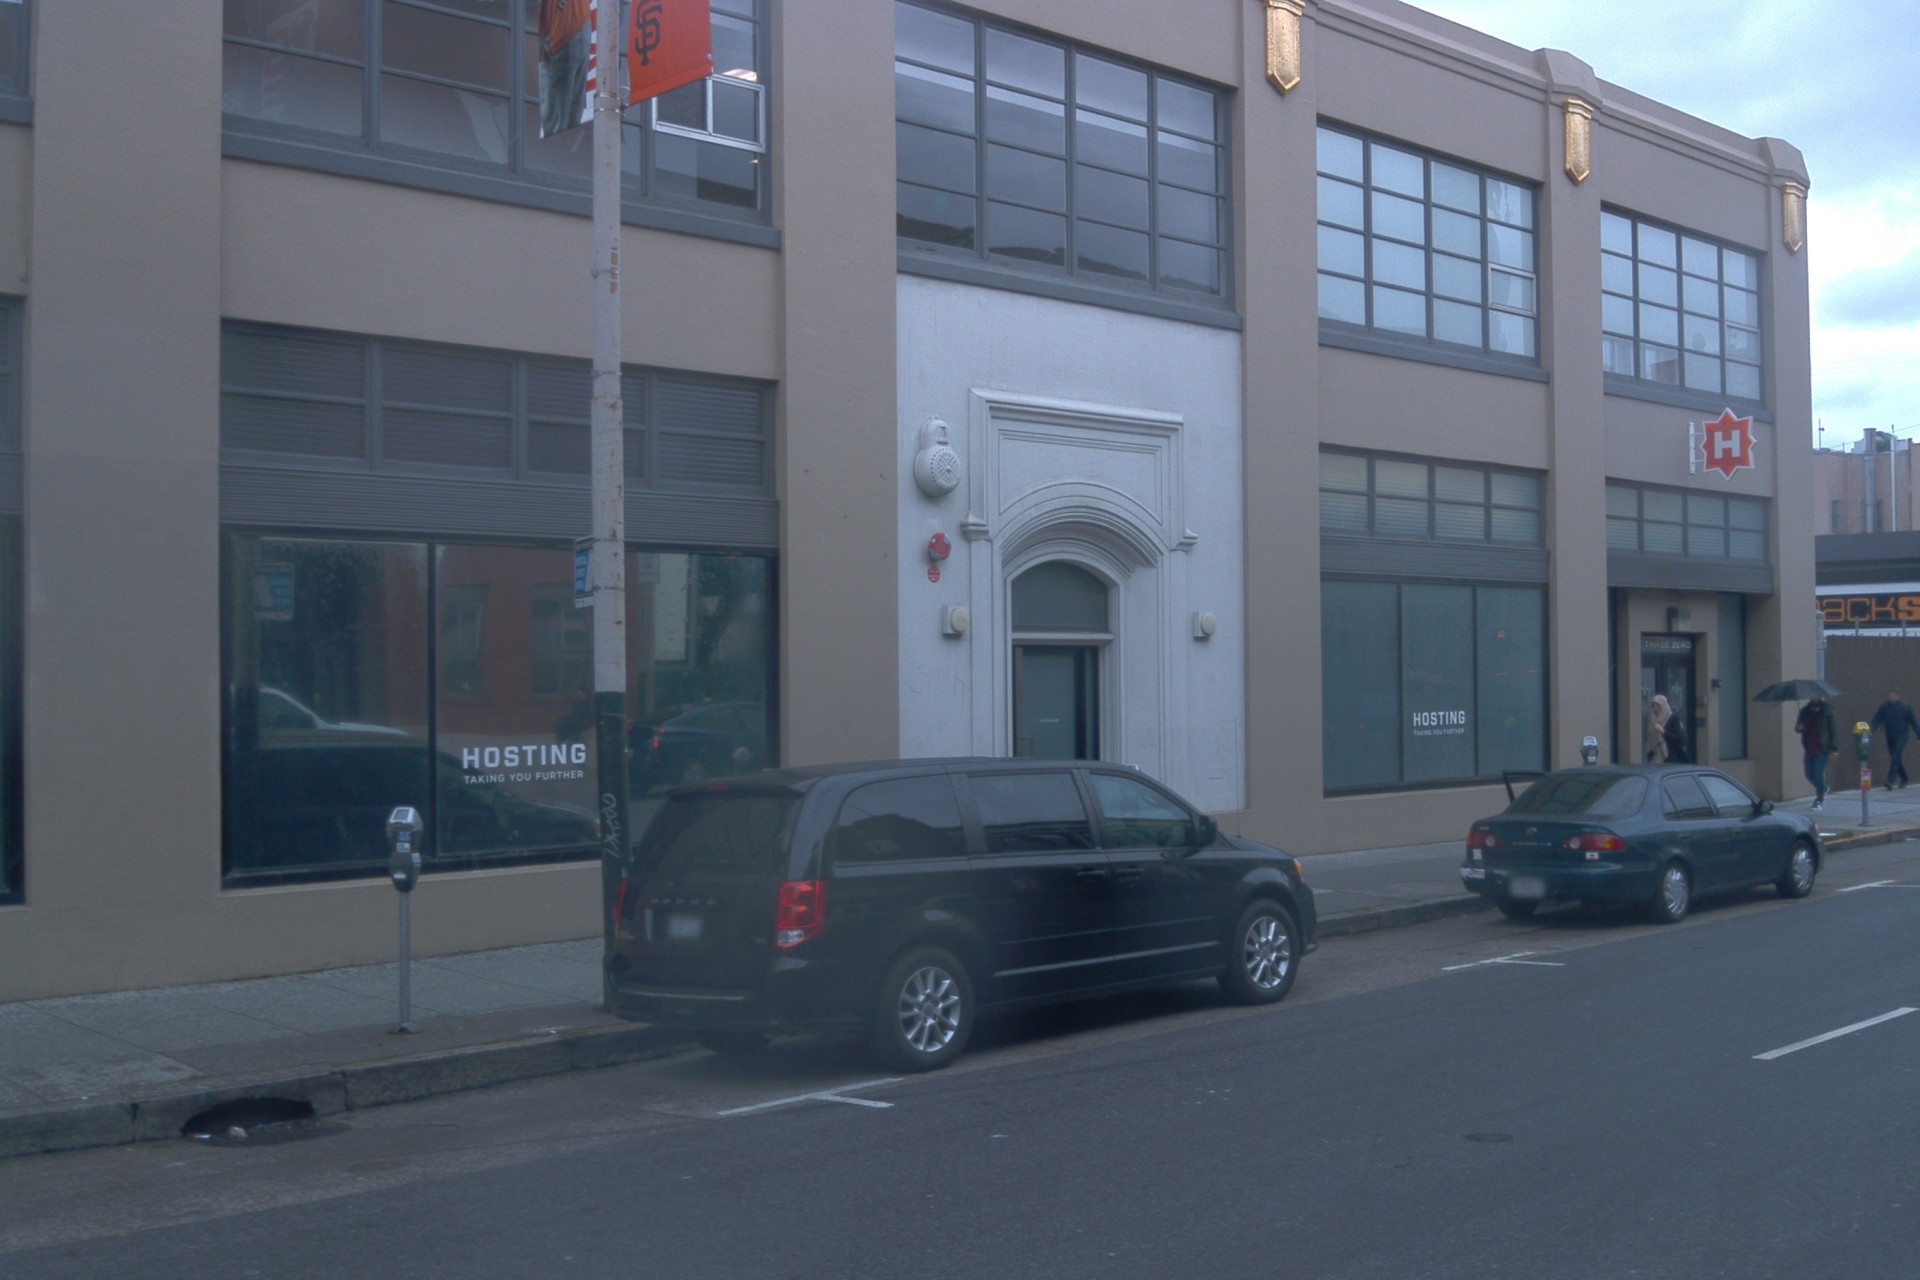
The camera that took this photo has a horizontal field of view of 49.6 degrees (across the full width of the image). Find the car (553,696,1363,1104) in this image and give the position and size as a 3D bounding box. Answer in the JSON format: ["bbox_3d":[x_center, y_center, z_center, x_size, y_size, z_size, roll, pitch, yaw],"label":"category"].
[{"bbox_3d":[0.191,1.400,13.180,5.129,1.960,2.084,0,0,-44],"label":"car"}]

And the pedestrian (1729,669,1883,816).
[{"bbox_3d":[11.842,1.399,29.123,1.513,1.950,1.495,0,0,-42],"label":"pedestrian"}]

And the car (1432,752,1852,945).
[{"bbox_3d":[6.290,1.797,18.921,4.350,1.328,1.799,0,0,-44],"label":"car"}]

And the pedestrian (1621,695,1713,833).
[{"bbox_3d":[9.269,1.604,27.257,0.852,1.740,0.841,0,0,-43],"label":"pedestrian"}]
